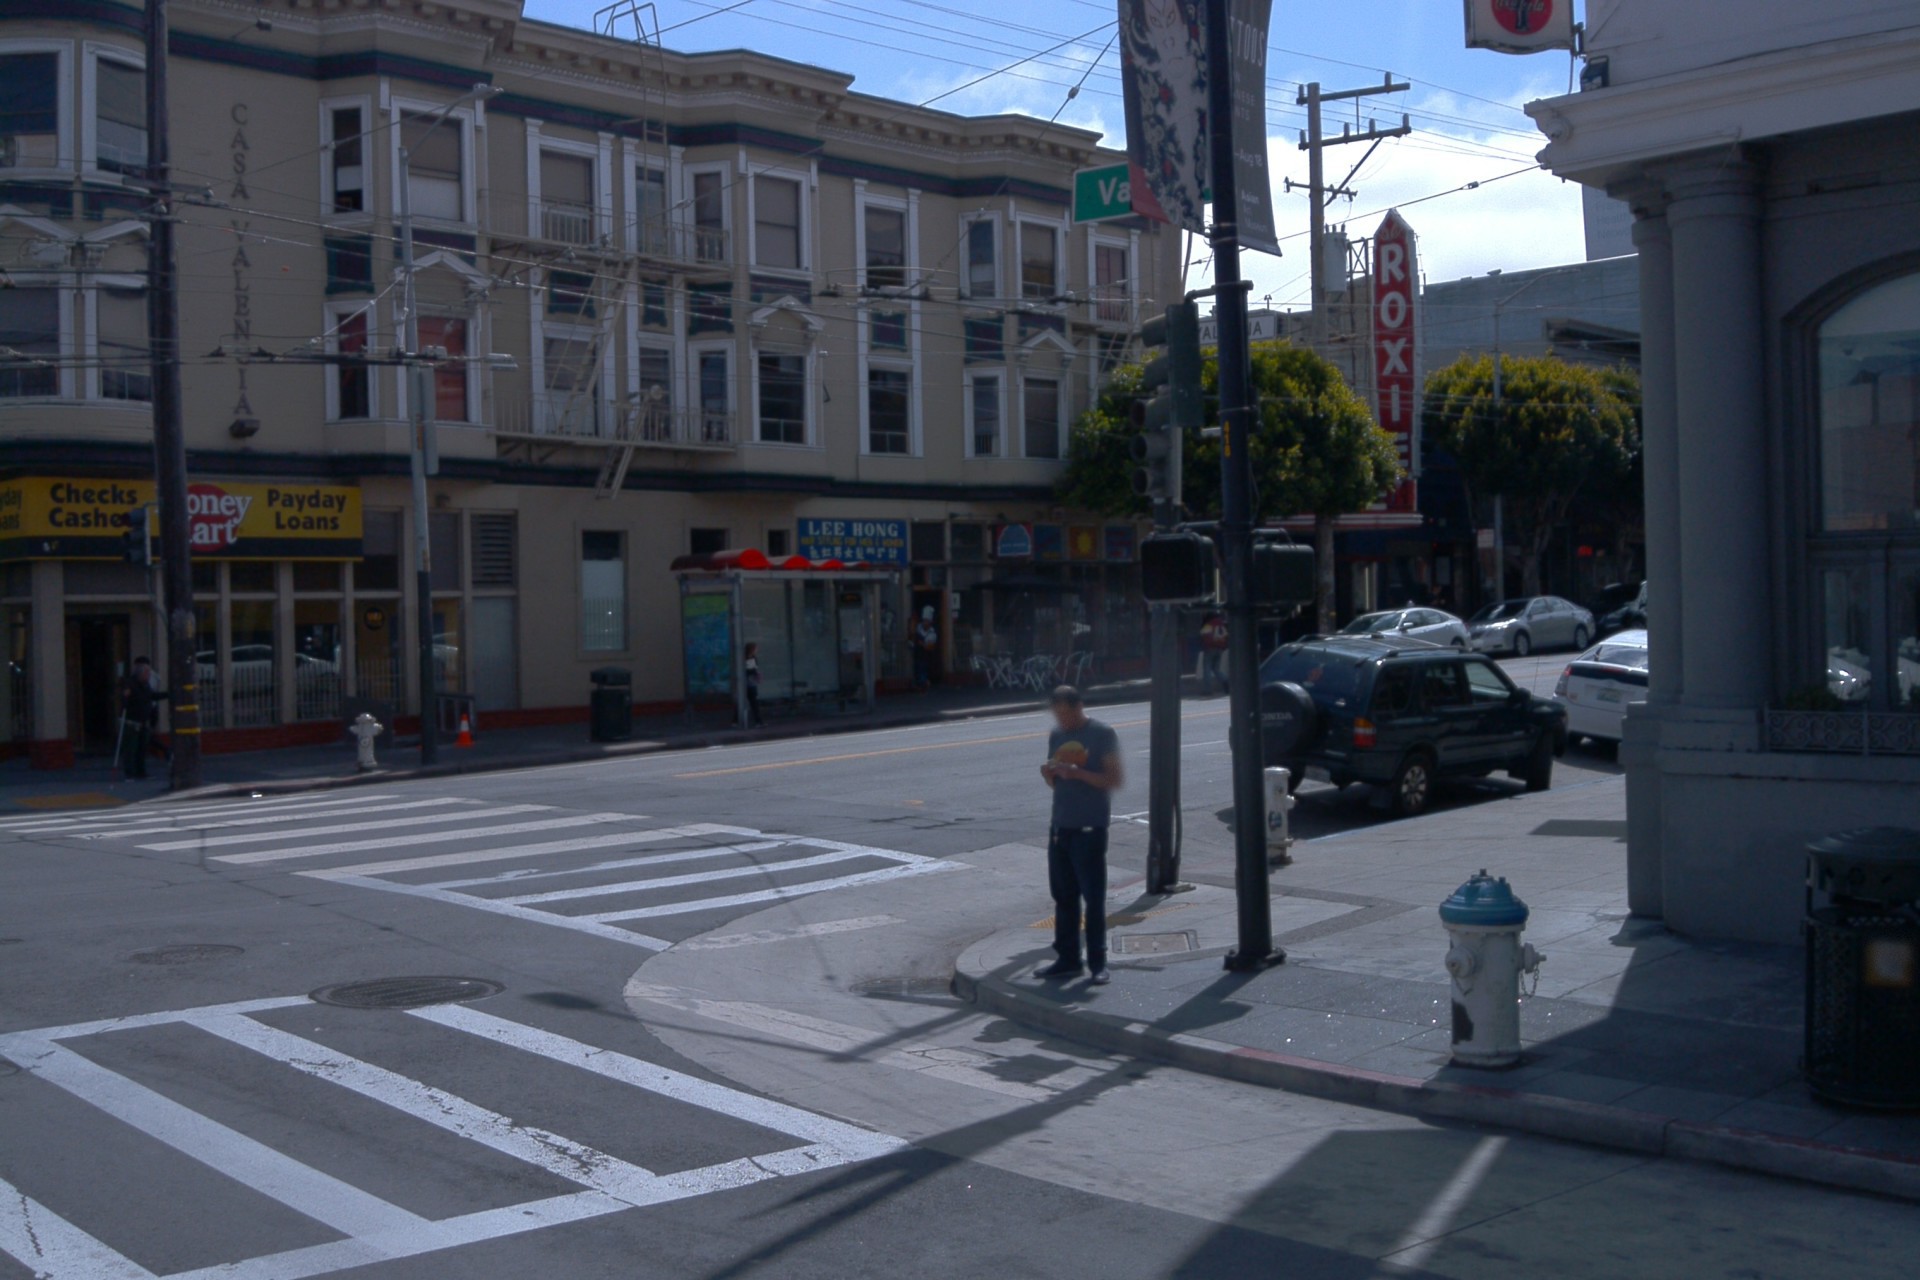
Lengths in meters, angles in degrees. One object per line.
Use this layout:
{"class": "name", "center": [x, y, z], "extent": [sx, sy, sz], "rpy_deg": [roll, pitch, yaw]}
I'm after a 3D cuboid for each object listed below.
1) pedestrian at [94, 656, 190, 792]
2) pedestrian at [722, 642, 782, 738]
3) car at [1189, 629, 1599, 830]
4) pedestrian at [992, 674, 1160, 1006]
{"class": "pedestrian", "center": [-11.308, 1.129, 28.396], "extent": [0.995, 1.790, 1.336], "rpy_deg": [0, 0, -32]}
{"class": "pedestrian", "center": [-3.569, 0.846, 35.263], "extent": [0.673, 1.610, 0.841], "rpy_deg": [0, 0, -40]}
{"class": "car", "center": [4.708, 0.835, 21.867], "extent": [2.130, 1.870, 4.629], "rpy_deg": [0, 1, 44]}
{"class": "pedestrian", "center": [0.691, 1.158, 12.301], "extent": [0.690, 1.880, 0.721], "rpy_deg": [0, 0, -42]}
